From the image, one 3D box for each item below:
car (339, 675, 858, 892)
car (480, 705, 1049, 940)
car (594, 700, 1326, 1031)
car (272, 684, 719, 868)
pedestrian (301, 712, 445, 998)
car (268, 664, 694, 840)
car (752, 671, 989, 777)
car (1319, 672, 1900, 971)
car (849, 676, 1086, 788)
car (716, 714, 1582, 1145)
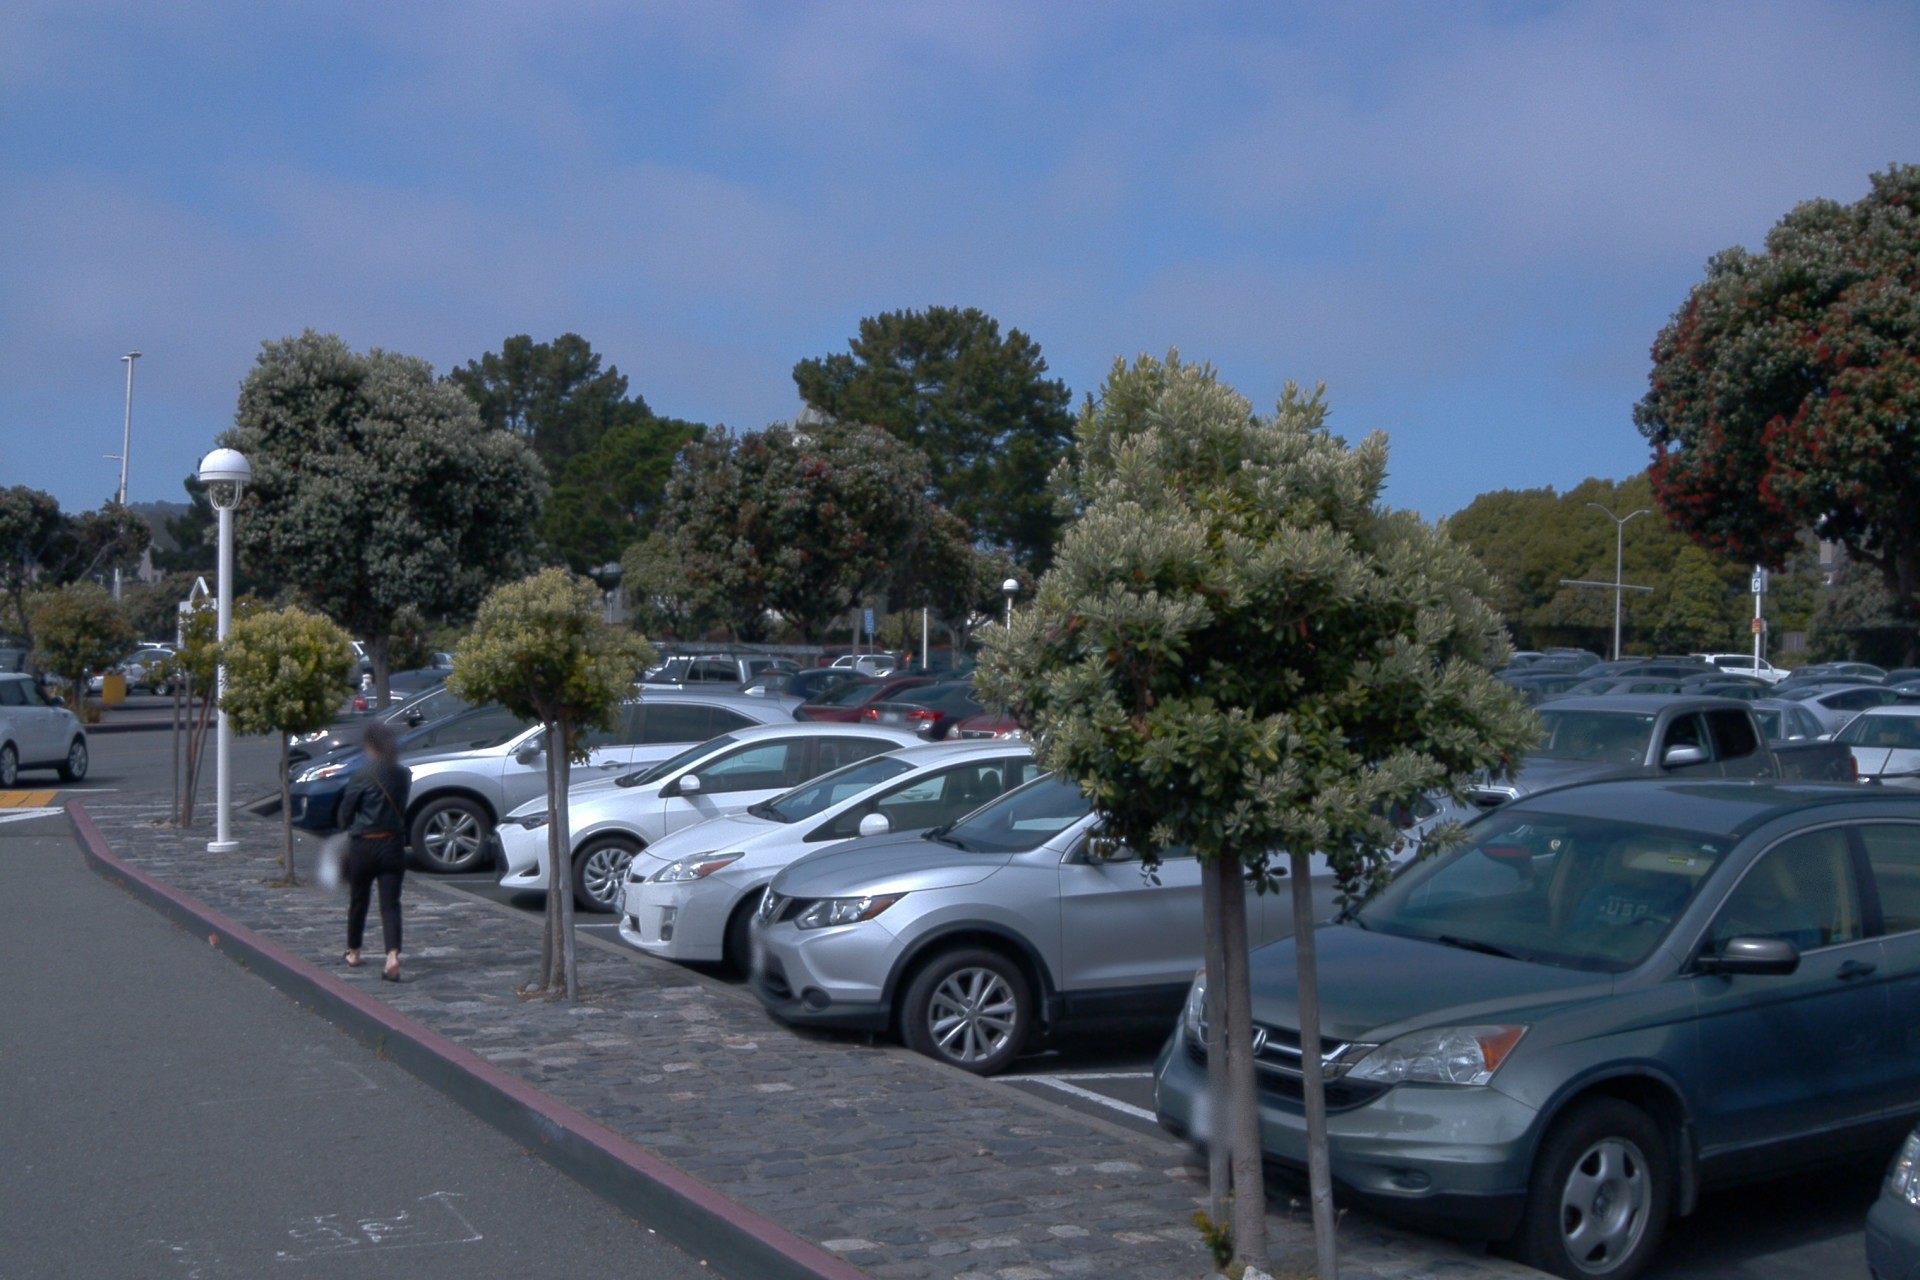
[{"bbox_3d":[-3.400,1.294,19.583,4.610,1.830,2.015,0,0,-10],"label":"car"},{"bbox_3d":[-1.691,1.441,17.177,4.476,1.670,2.054,0,0,-11],"label":"car"},{"bbox_3d":[-0.050,1.413,14.116,4.592,1.860,2.074,0,0,-18],"label":"car"},{"bbox_3d":[-4.878,1.387,21.899,4.435,1.740,1.967,0,0,-11],"label":"car"},{"bbox_3d":[-3.445,1.227,12.046,0.626,1.570,0.742,0,0,-31],"label":"pedestrian"},{"bbox_3d":[-5.726,1.297,24.890,4.826,1.930,2.002,0,0,-11],"label":"car"},{"bbox_3d":[-1.519,1.411,35.995,1.975,1.640,3.950,0,1,41],"label":"car"},{"bbox_3d":[5.726,1.361,17.655,5.534,2.020,2.317,-1,1,-43],"label":"car"},{"bbox_3d":[0.179,1.479,34.219,1.781,1.640,3.948,0,1,41],"label":"car"},{"bbox_3d":[0.958,1.435,11.386,4.287,1.900,2.086,0,0,-16],"label":"car"}]
